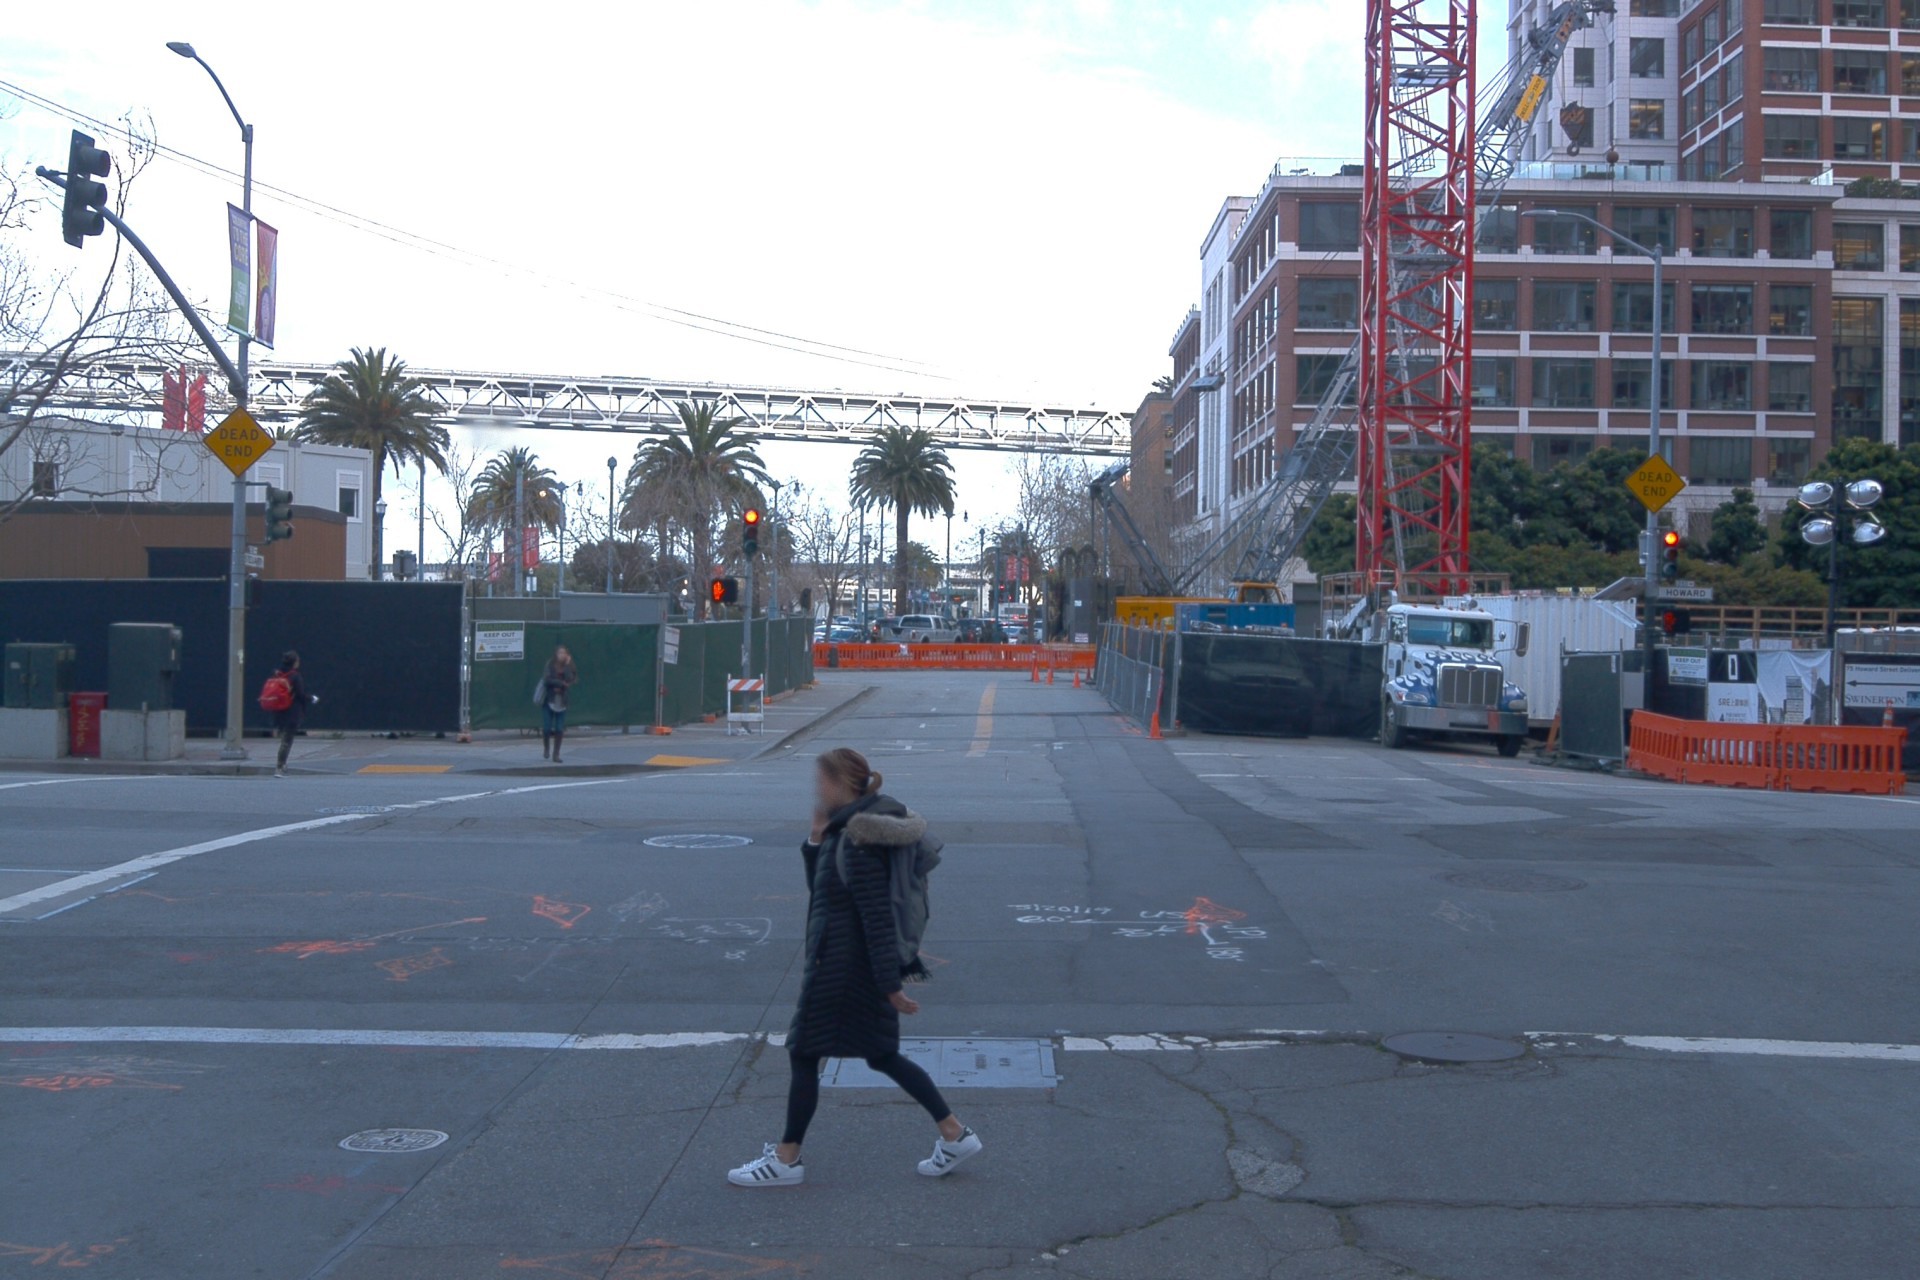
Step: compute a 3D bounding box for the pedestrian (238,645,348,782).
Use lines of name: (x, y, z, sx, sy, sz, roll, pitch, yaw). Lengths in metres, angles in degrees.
pedestrian: (-8.832, 0.953, 27.096, 0.772, 1.760, 1.195, 1, 0, 25)

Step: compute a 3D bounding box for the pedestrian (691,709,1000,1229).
pedestrian: (-0.401, 1.186, 7.703, 1.088, 1.810, 0.806, 1, 0, 1)

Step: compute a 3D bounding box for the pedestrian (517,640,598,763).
pedestrian: (-5.813, 0.870, 29.559, 0.847, 1.720, 1.092, 1, 0, 7)
